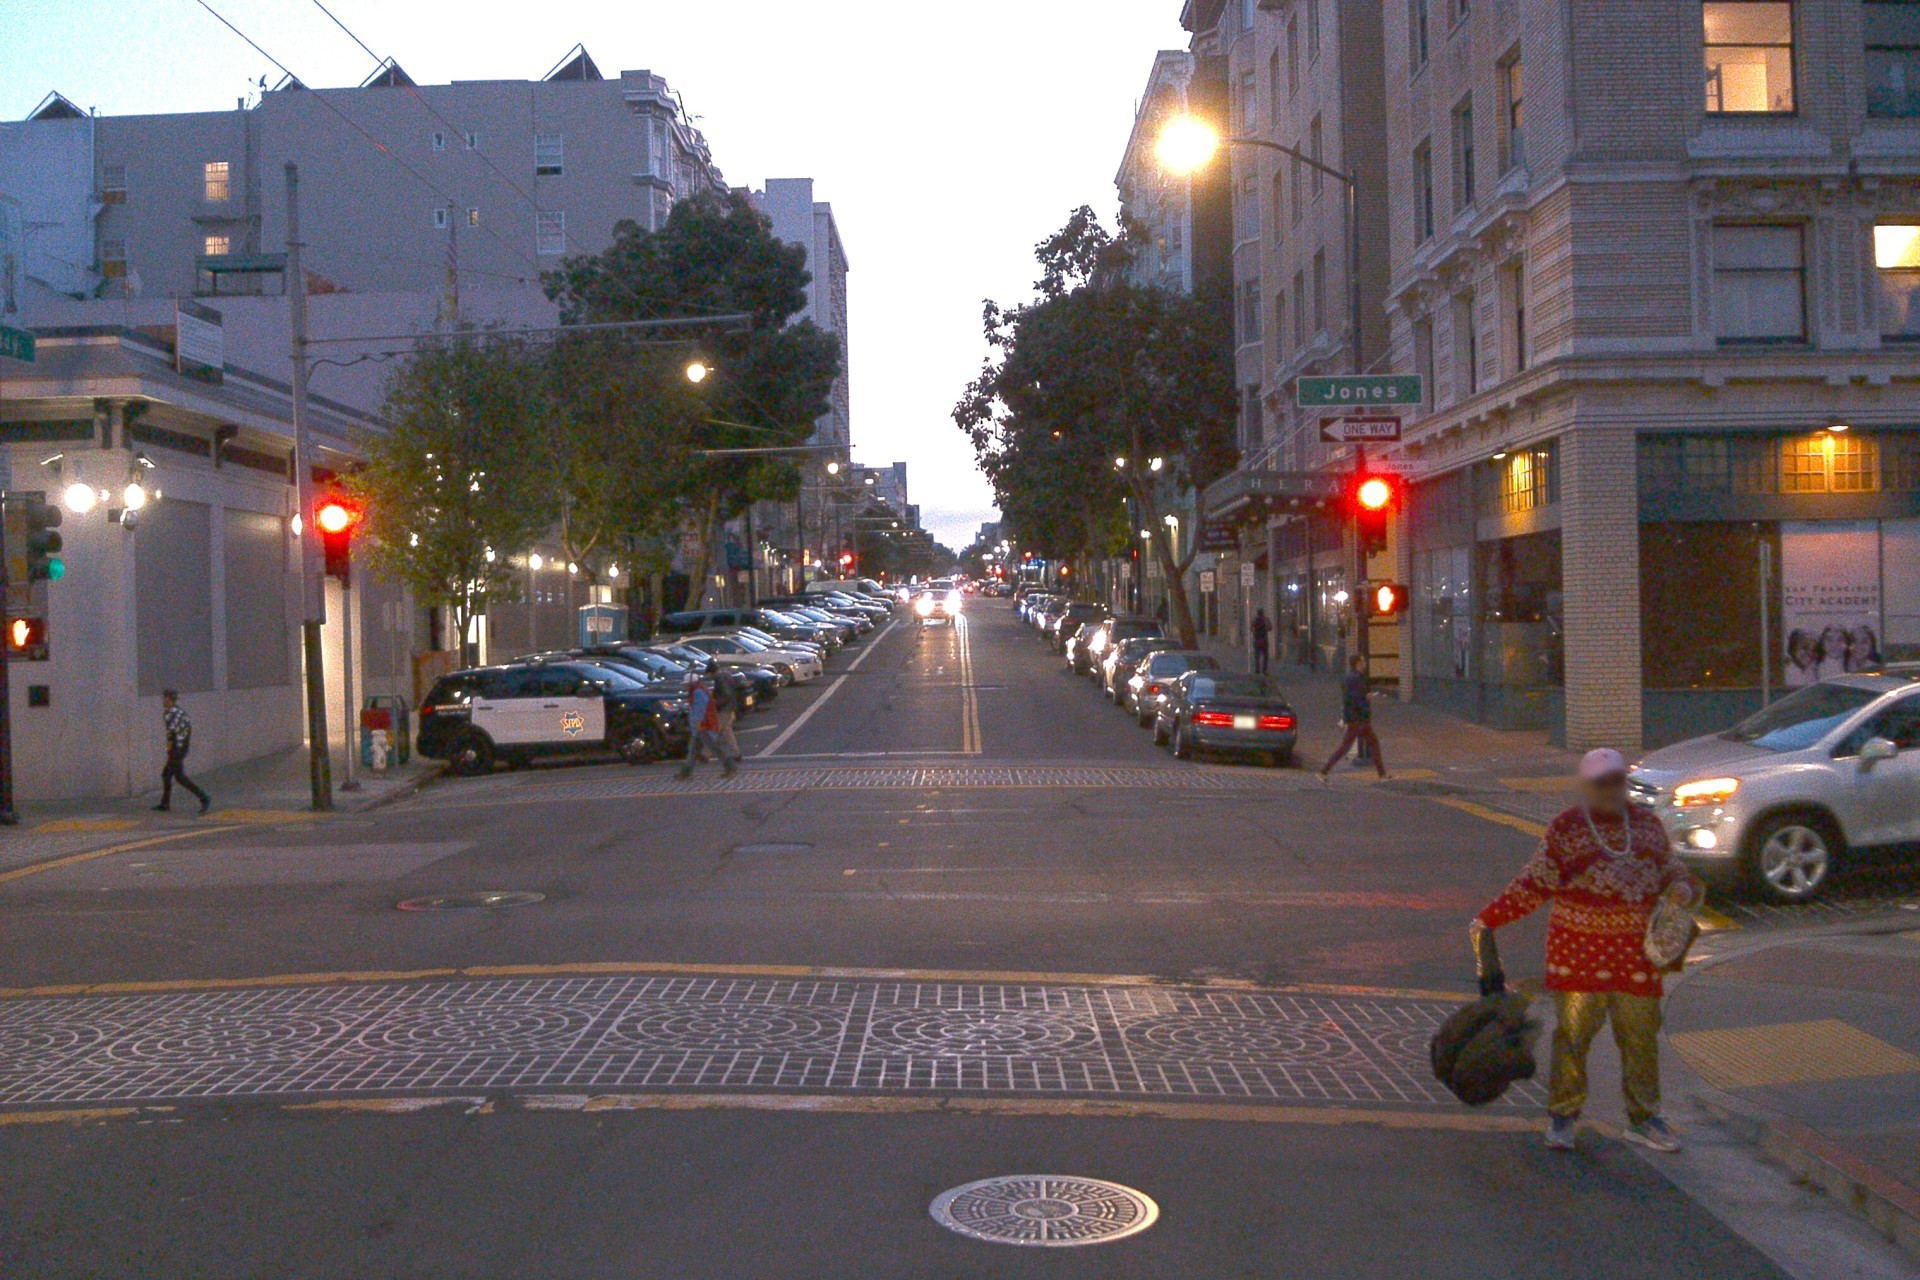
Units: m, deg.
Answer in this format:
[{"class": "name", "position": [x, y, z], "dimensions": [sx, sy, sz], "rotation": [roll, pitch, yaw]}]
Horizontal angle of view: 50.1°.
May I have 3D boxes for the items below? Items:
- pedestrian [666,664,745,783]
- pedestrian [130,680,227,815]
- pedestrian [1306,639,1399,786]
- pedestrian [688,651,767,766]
[{"class": "pedestrian", "position": [-3.516, 1.143, 28.489], "dimensions": [1.000, 1.590, 1.000], "rotation": [0, 1, -2]}, {"class": "pedestrian", "position": [-10.711, 1.463, 28.209], "dimensions": [1.077, 1.820, 0.593], "rotation": [0, 1, 8]}, {"class": "pedestrian", "position": [5.270, 0.961, 27.646], "dimensions": [1.098, 1.930, 0.690], "rotation": [0, 1, -3]}, {"class": "pedestrian", "position": [-3.563, 1.032, 31.447], "dimensions": [0.997, 1.700, 1.003], "rotation": [-1, 1, -19]}]
